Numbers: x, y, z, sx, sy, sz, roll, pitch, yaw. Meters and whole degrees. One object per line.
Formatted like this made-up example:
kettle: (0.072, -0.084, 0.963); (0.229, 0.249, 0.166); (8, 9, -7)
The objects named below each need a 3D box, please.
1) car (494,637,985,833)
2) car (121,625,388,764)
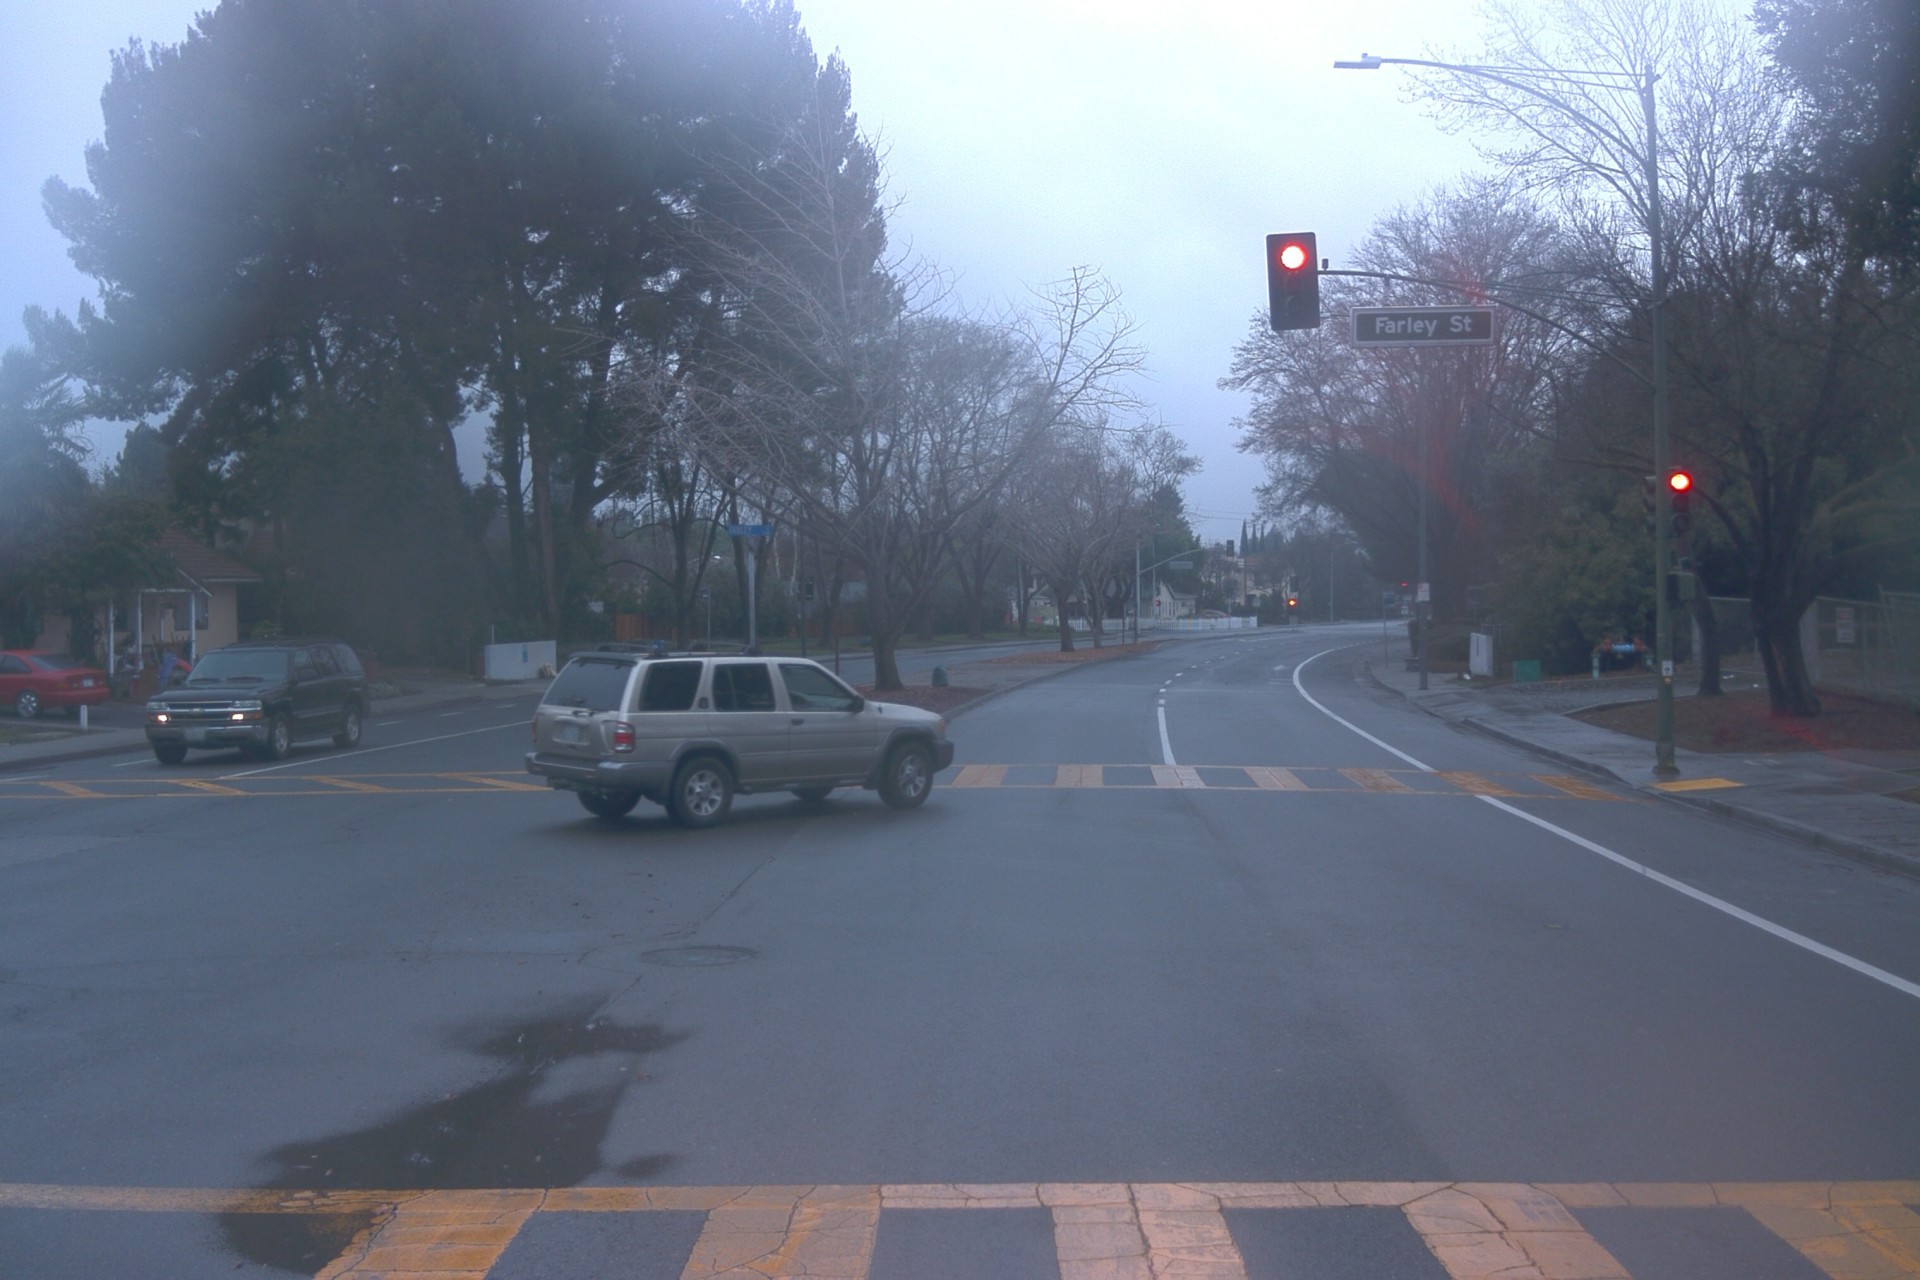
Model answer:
car: (-2.184, 0.872, 21.581); (4.765, 1.810, 2.090); (0, 0, -43)
car: (-11.163, 0.798, 33.374); (2.290, 2.060, 5.042); (0, 0, 4)
